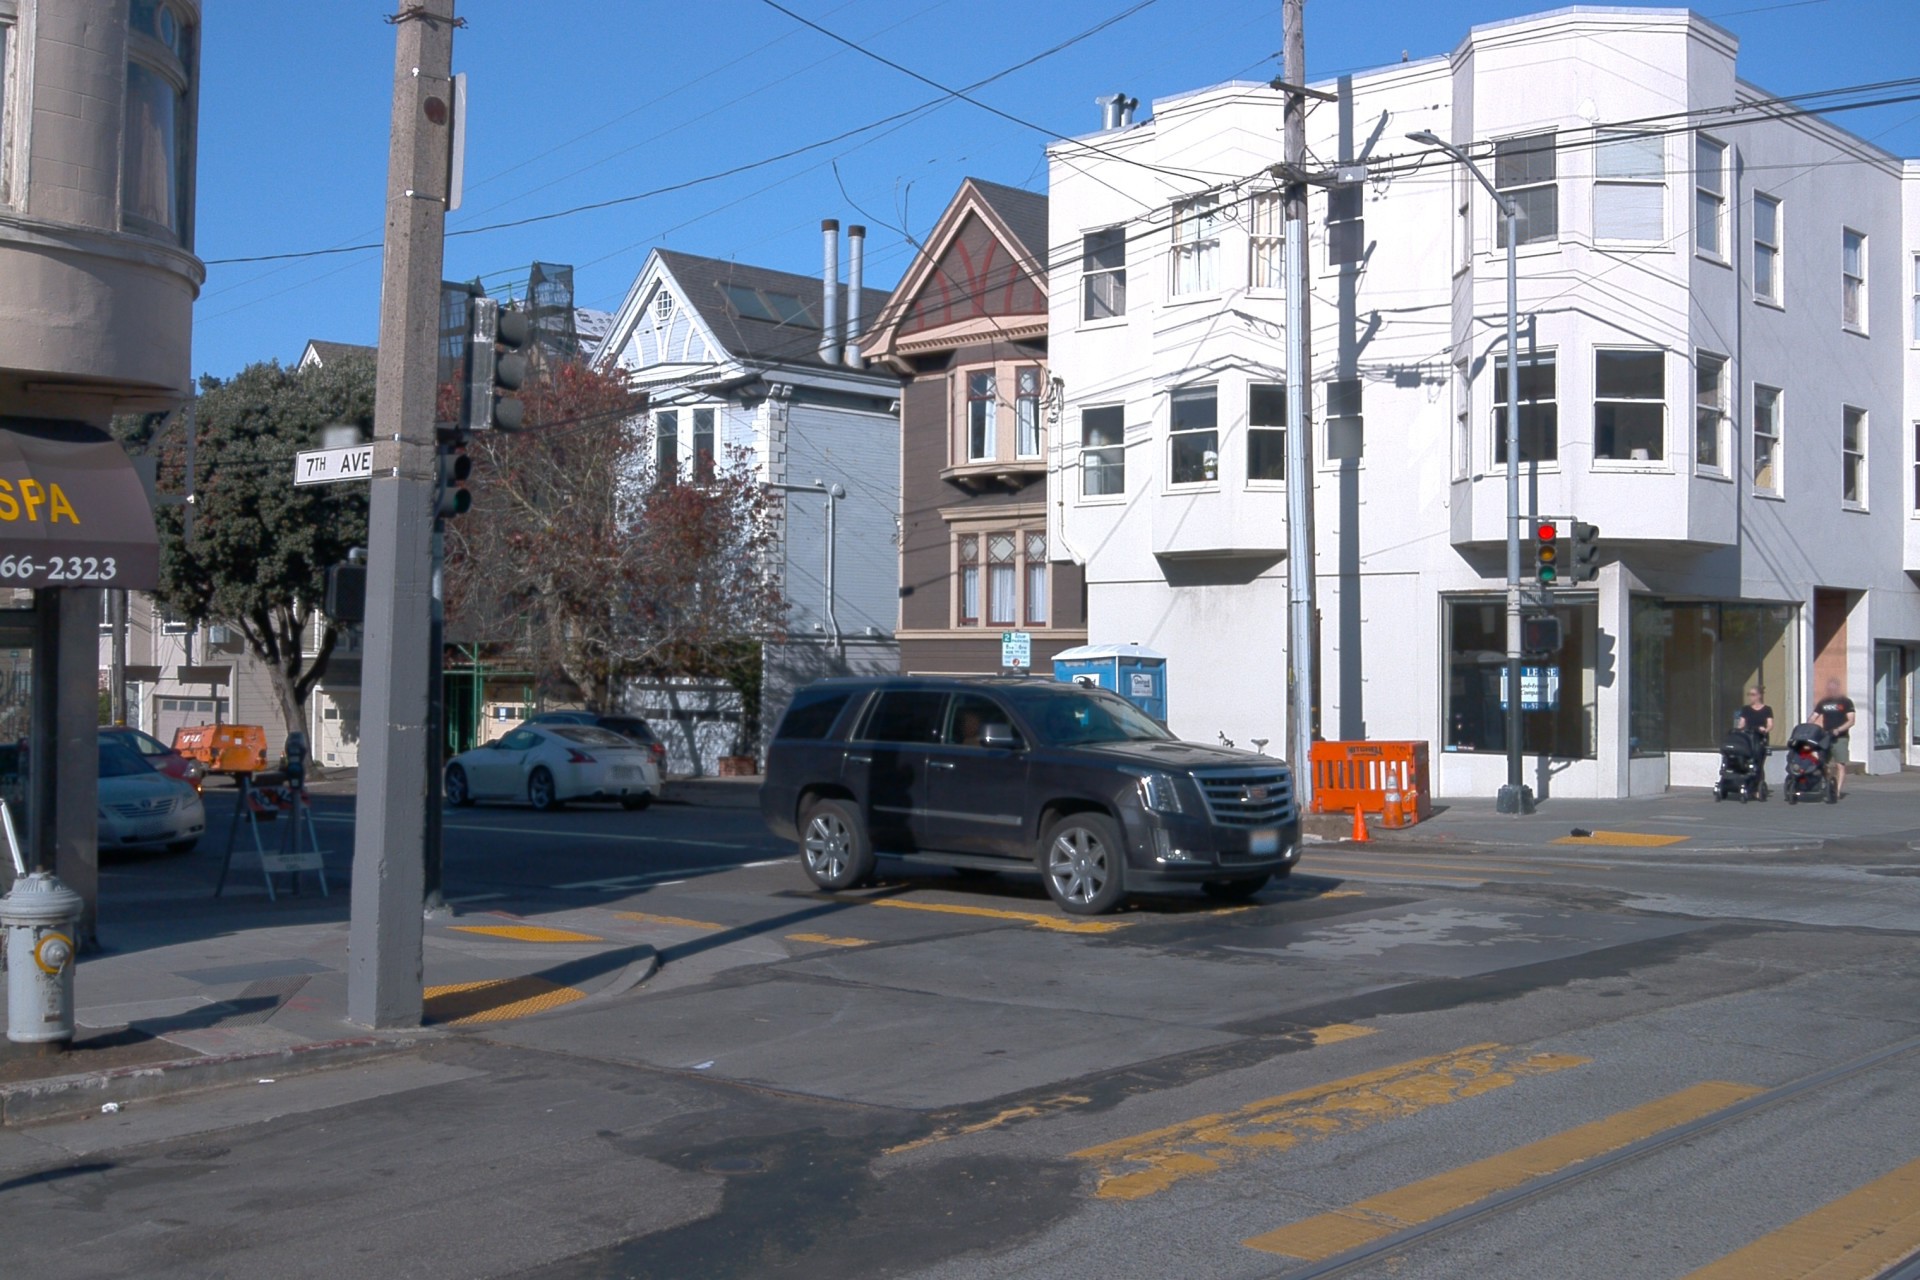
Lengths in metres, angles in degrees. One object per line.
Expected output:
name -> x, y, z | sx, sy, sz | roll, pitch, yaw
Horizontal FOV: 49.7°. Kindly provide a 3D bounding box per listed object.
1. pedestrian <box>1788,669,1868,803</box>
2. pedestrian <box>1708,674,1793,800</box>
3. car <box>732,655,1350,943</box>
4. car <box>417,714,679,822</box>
pedestrian -> 12.159, 1.326, 29.045 | 0.763, 1.820, 0.953 | 0, 0, 41
pedestrian -> 11.136, 1.345, 29.177 | 0.832, 1.720, 1.019 | 0, 0, 39
car -> 0.547, 1.198, 18.025 | 2.284, 2.090, 5.186 | 0, 0, -45
car -> -6.422, 1.923, 32.044 | 2.007, 1.390, 4.242 | 0, 0, -44
